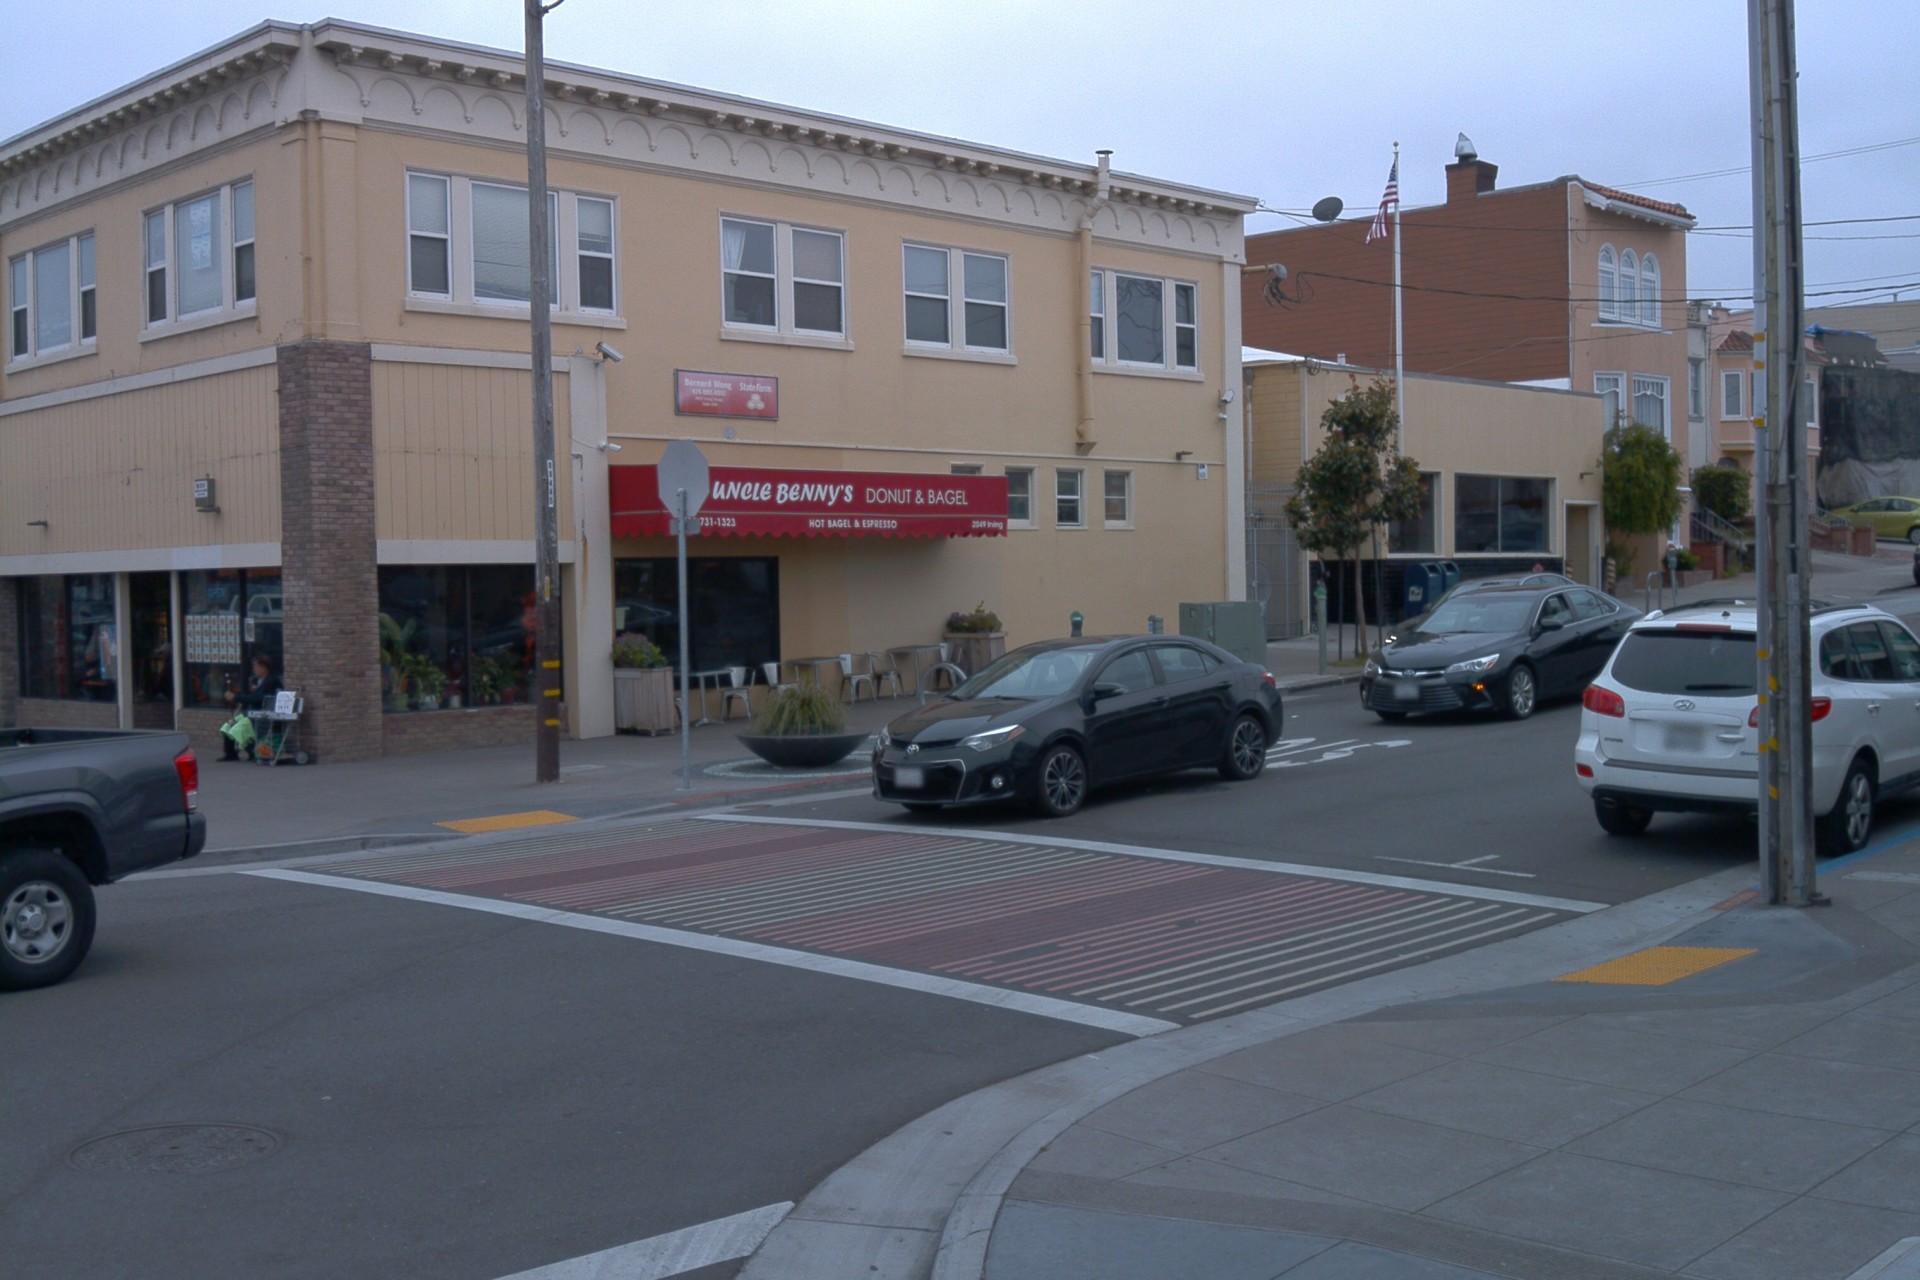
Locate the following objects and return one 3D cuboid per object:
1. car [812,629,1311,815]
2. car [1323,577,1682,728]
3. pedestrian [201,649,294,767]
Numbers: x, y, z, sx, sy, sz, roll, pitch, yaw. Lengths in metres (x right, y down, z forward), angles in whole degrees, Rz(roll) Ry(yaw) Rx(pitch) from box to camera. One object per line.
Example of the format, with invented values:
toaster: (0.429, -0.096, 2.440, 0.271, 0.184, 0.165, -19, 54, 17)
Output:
car: (1.032, 0.630, 18.570, 2.067, 1.440, 4.540, 0, 1, 42)
car: (6.633, 0.110, 24.911, 2.082, 1.644, 4.864, 1, 1, 44)
pedestrian: (-8.563, 0.805, 24.839, 0.878, 1.374, 0.735, 1, 1, 44)
